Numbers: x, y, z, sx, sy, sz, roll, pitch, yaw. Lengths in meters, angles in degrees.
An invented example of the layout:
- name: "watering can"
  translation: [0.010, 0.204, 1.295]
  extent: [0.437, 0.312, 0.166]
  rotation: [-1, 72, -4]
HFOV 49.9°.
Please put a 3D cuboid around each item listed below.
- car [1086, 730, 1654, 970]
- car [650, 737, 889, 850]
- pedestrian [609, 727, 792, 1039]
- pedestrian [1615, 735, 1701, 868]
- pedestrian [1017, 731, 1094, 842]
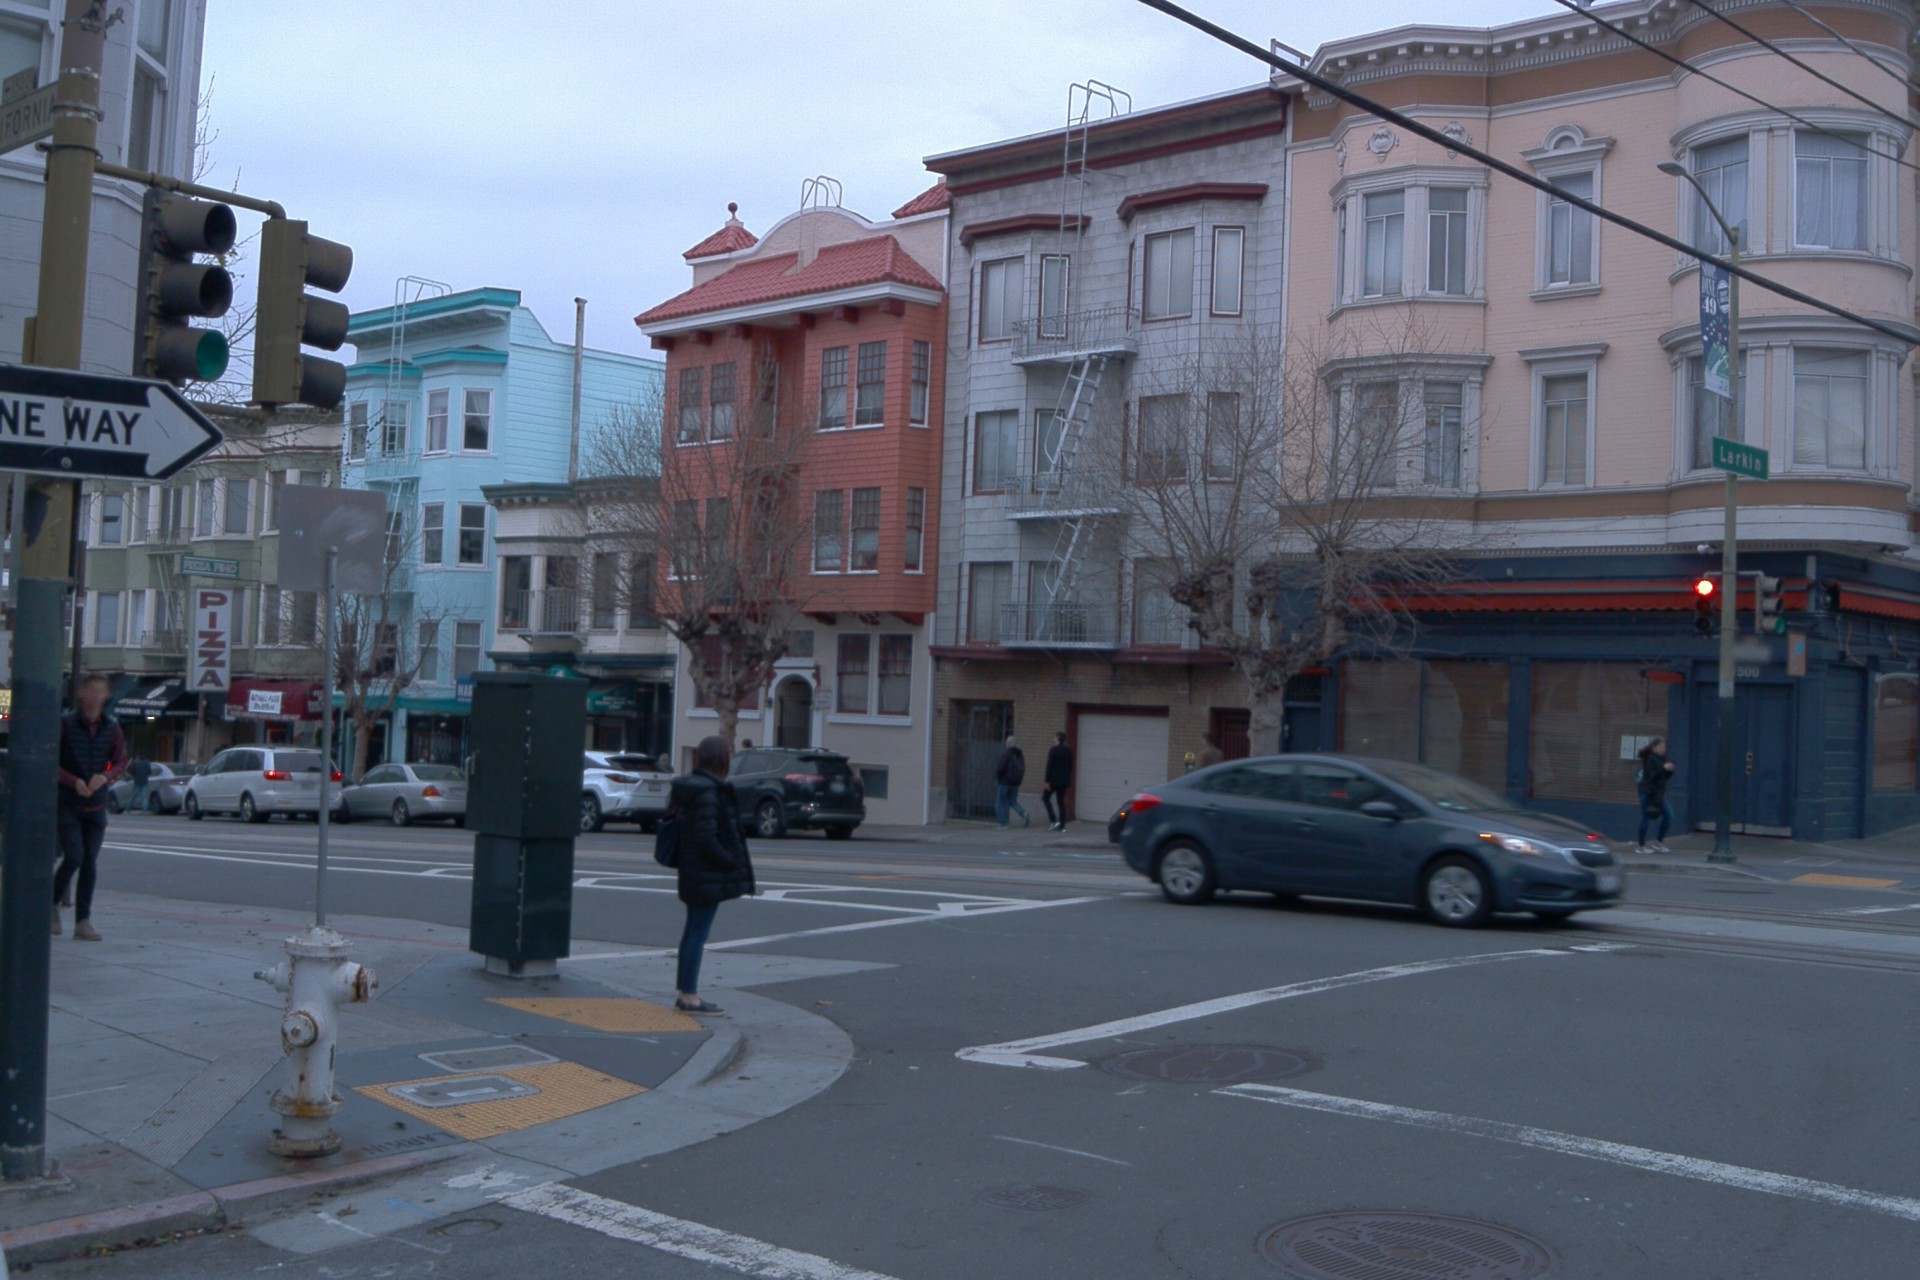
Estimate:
- name: "car"
  translation: [3.560, 1.746, 18.495]
  extent: [4.575, 1.600, 2.081]
  rotation: [1, 1, 43]
- name: "car"
  translation: [-3.623, 2.828, 38.770]
  extent: [4.423, 1.700, 2.100]
  rotation: [1, 1, 44]
- name: "pedestrian"
  translation: [-1.530, 1.392, 12.145]
  extent: [0.846, 1.692, 0.707]
  rotation: [-1, 1, -32]
- name: "pedestrian"
  translation: [10.028, 2.301, 29.660]
  extent: [0.938, 1.800, 0.779]
  rotation: [1, 1, 40]
- name: "pedestrian"
  translation: [1.746, 2.651, 37.657]
  extent: [0.903, 1.913, 1.080]
  rotation: [-1, 1, -44]
